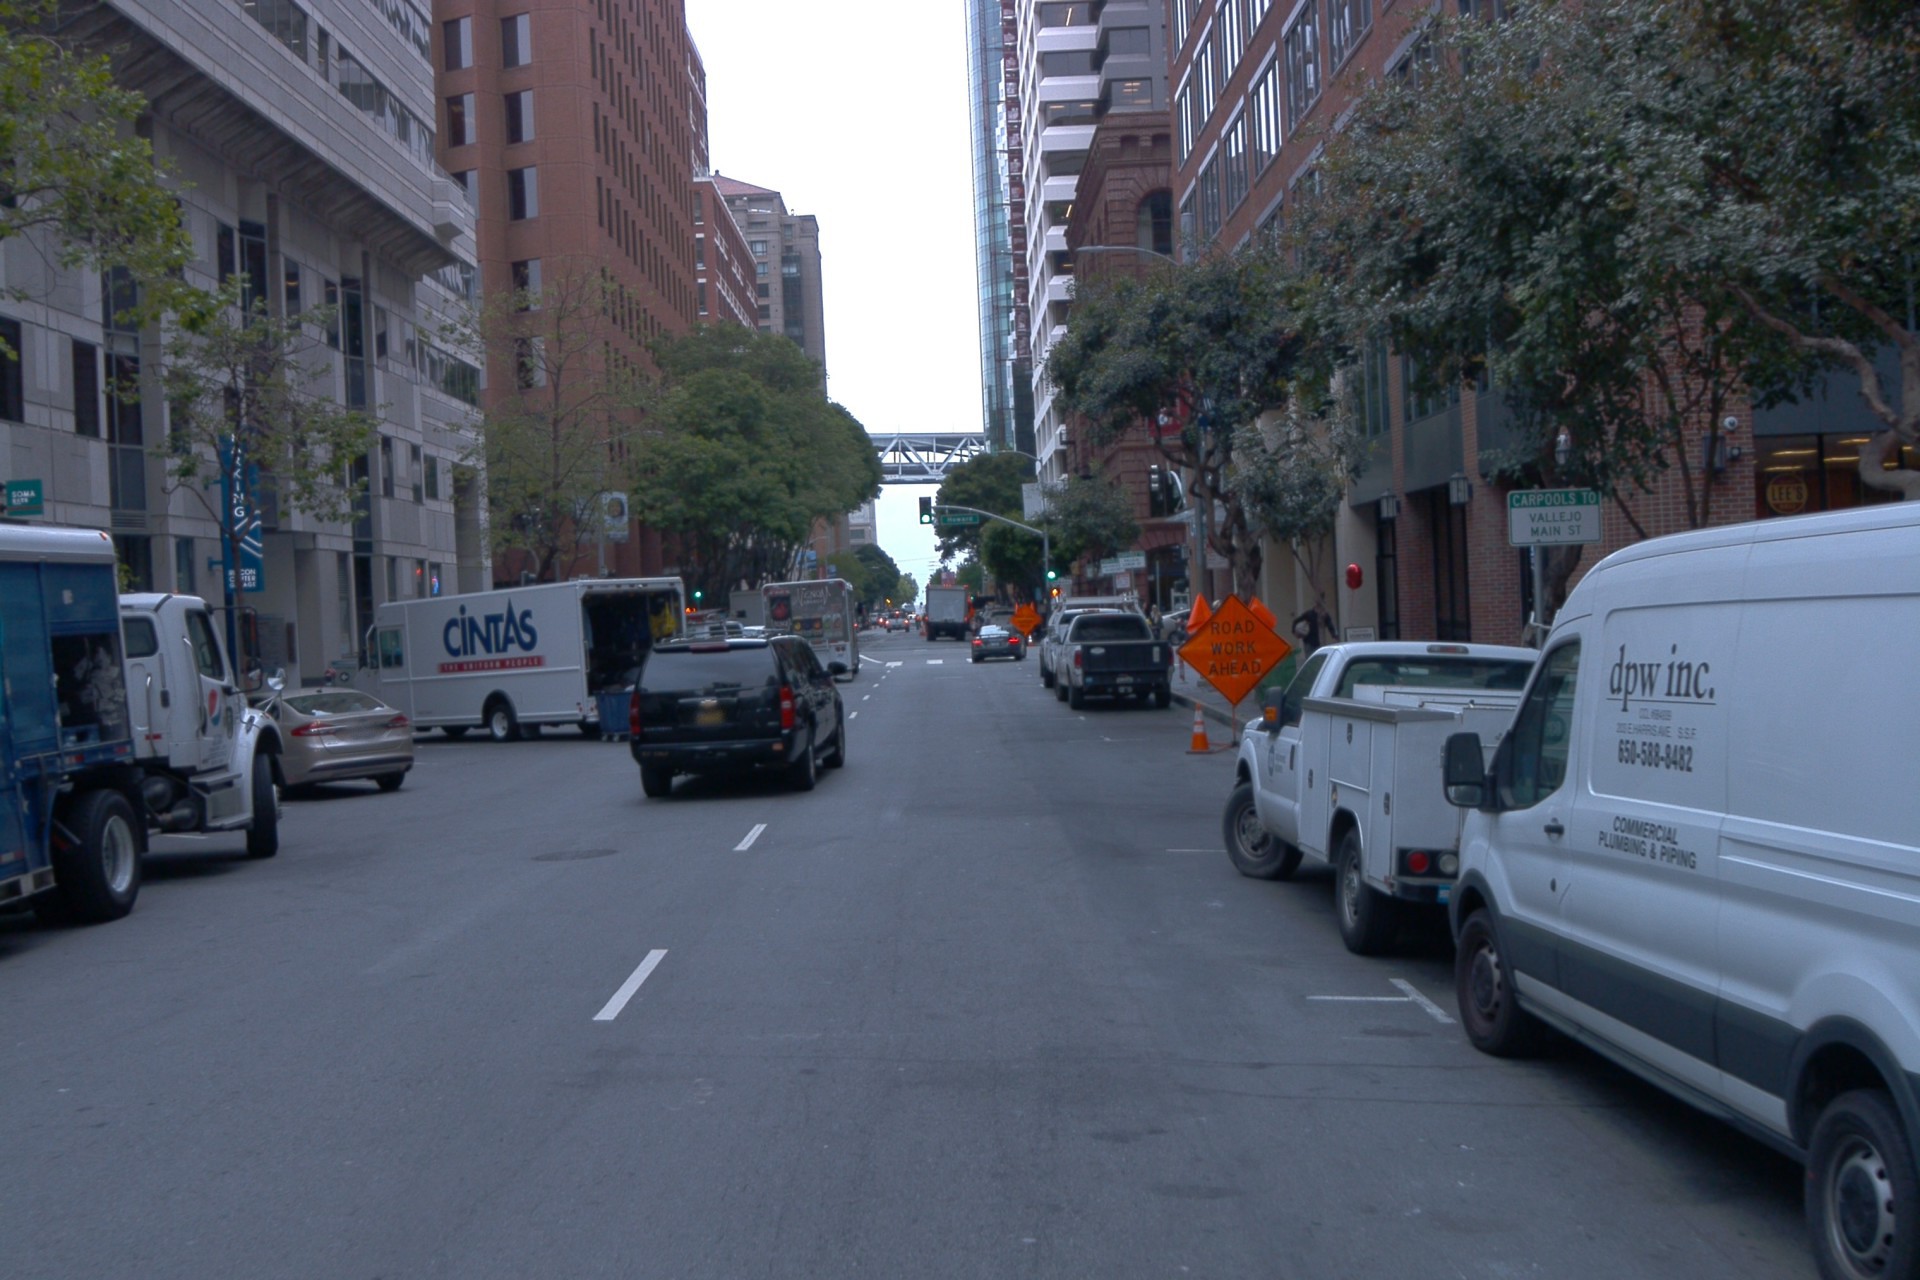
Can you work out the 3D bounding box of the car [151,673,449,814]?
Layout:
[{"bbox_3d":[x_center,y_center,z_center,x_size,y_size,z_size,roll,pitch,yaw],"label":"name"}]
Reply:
[{"bbox_3d":[-9.328,1.358,28.788,2.161,1.660,4.918,-1,1,-42],"label":"car"}]

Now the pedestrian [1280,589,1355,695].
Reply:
[{"bbox_3d":[6.416,0.025,36.999,1.119,1.882,1.324,0,1,0],"label":"pedestrian"}]

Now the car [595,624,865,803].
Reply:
[{"bbox_3d":[-2.655,0.783,25.457,2.450,1.929,5.811,0,1,3],"label":"car"}]

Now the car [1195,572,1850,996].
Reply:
[{"bbox_3d":[3.414,0.745,14.189,2.613,2.293,5.986,0,1,-3],"label":"car"}]
